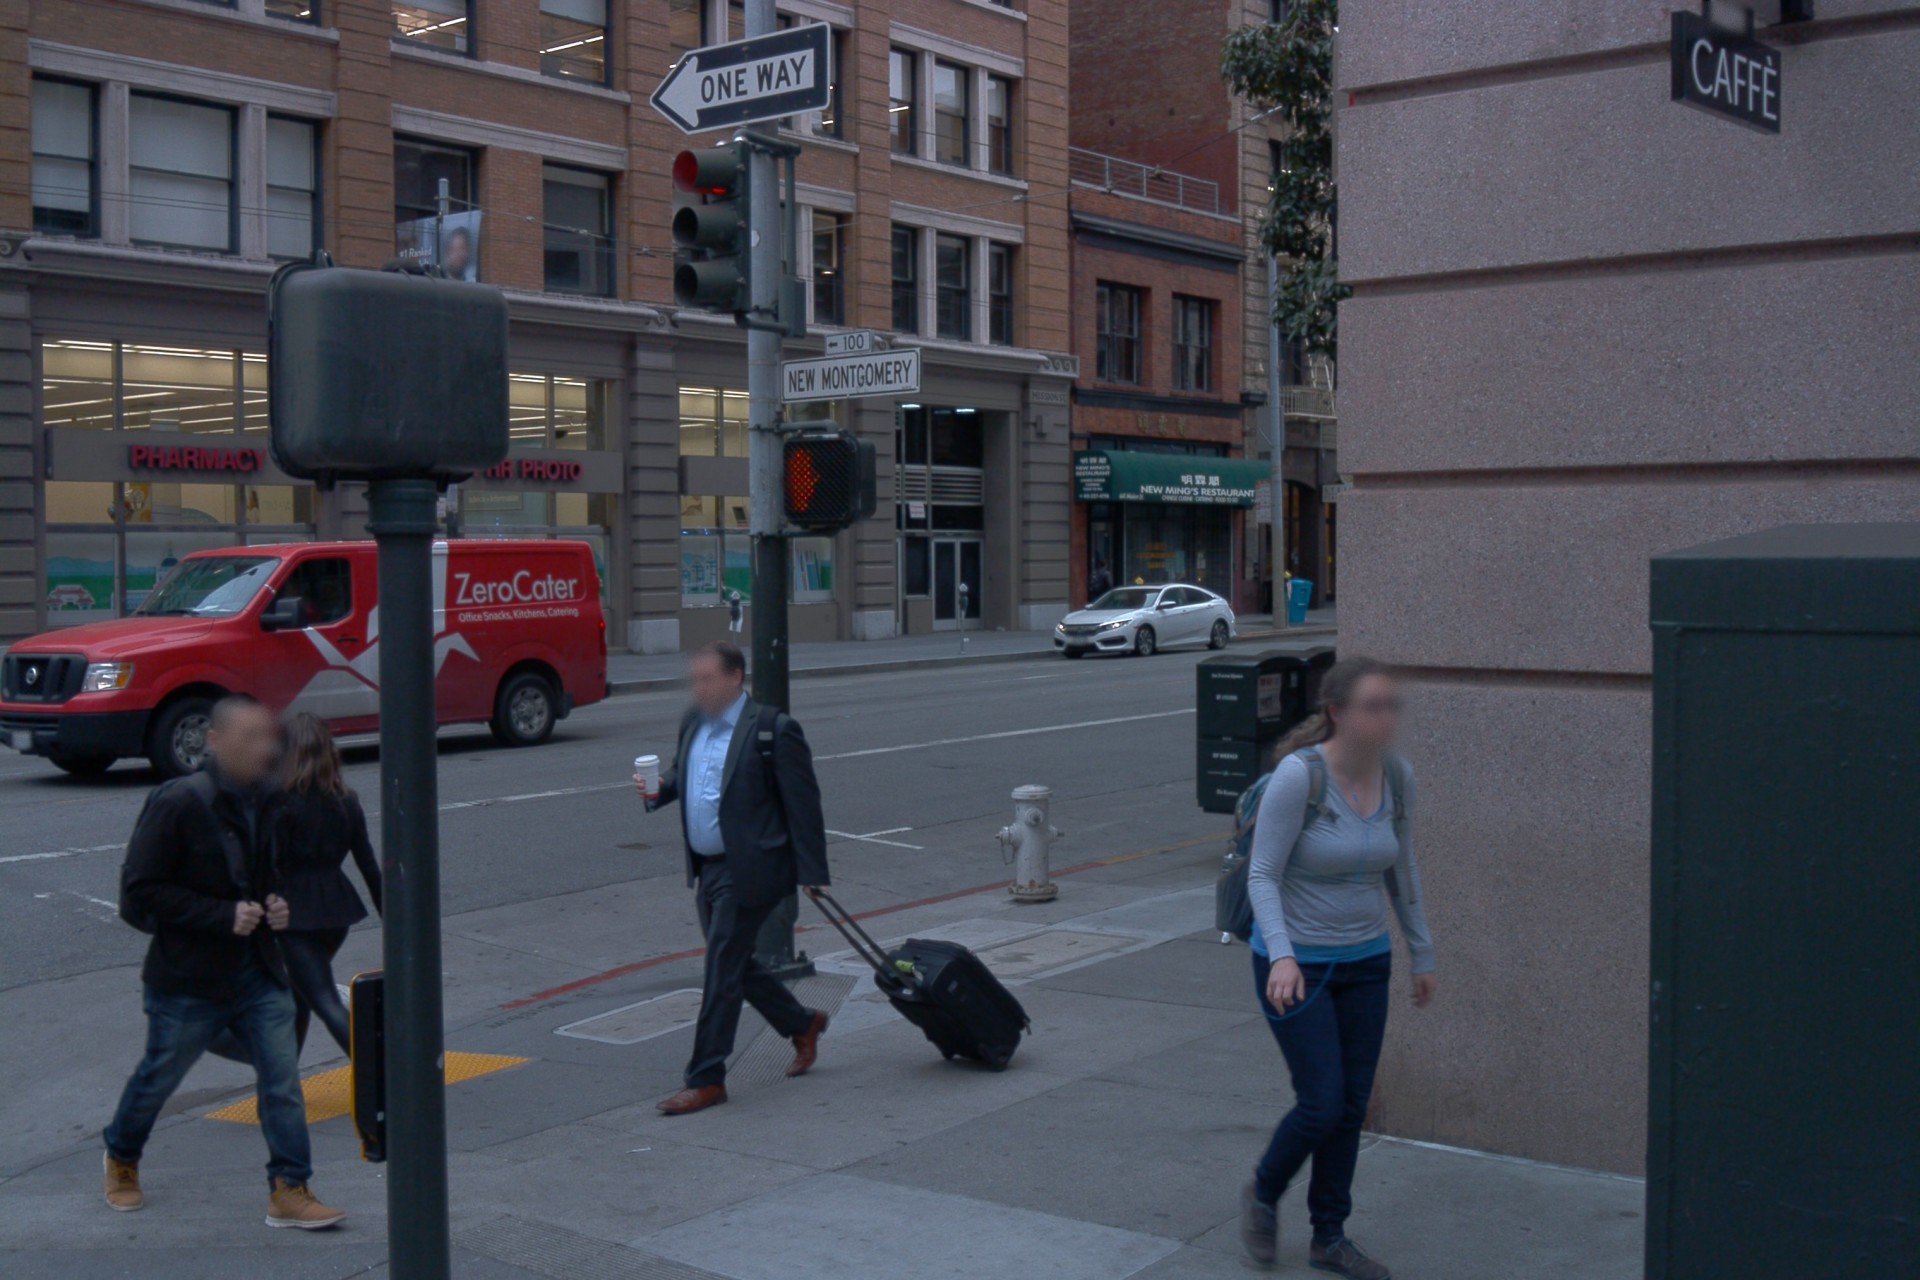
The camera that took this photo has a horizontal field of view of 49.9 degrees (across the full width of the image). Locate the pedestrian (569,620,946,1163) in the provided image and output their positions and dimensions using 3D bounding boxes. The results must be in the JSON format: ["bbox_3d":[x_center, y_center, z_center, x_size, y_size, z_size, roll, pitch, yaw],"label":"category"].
[{"bbox_3d":[-0.752,0.856,7.776,0.858,1.860,1.120,1,1,44],"label":"pedestrian"}]

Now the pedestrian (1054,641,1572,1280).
[{"bbox_3d":[0.921,0.891,5.609,0.924,1.765,1.085,0,1,-25],"label":"pedestrian"}]

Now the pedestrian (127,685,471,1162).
[{"bbox_3d":[-2.617,1.052,8.184,1.093,1.710,0.782,0,1,33],"label":"pedestrian"}]
